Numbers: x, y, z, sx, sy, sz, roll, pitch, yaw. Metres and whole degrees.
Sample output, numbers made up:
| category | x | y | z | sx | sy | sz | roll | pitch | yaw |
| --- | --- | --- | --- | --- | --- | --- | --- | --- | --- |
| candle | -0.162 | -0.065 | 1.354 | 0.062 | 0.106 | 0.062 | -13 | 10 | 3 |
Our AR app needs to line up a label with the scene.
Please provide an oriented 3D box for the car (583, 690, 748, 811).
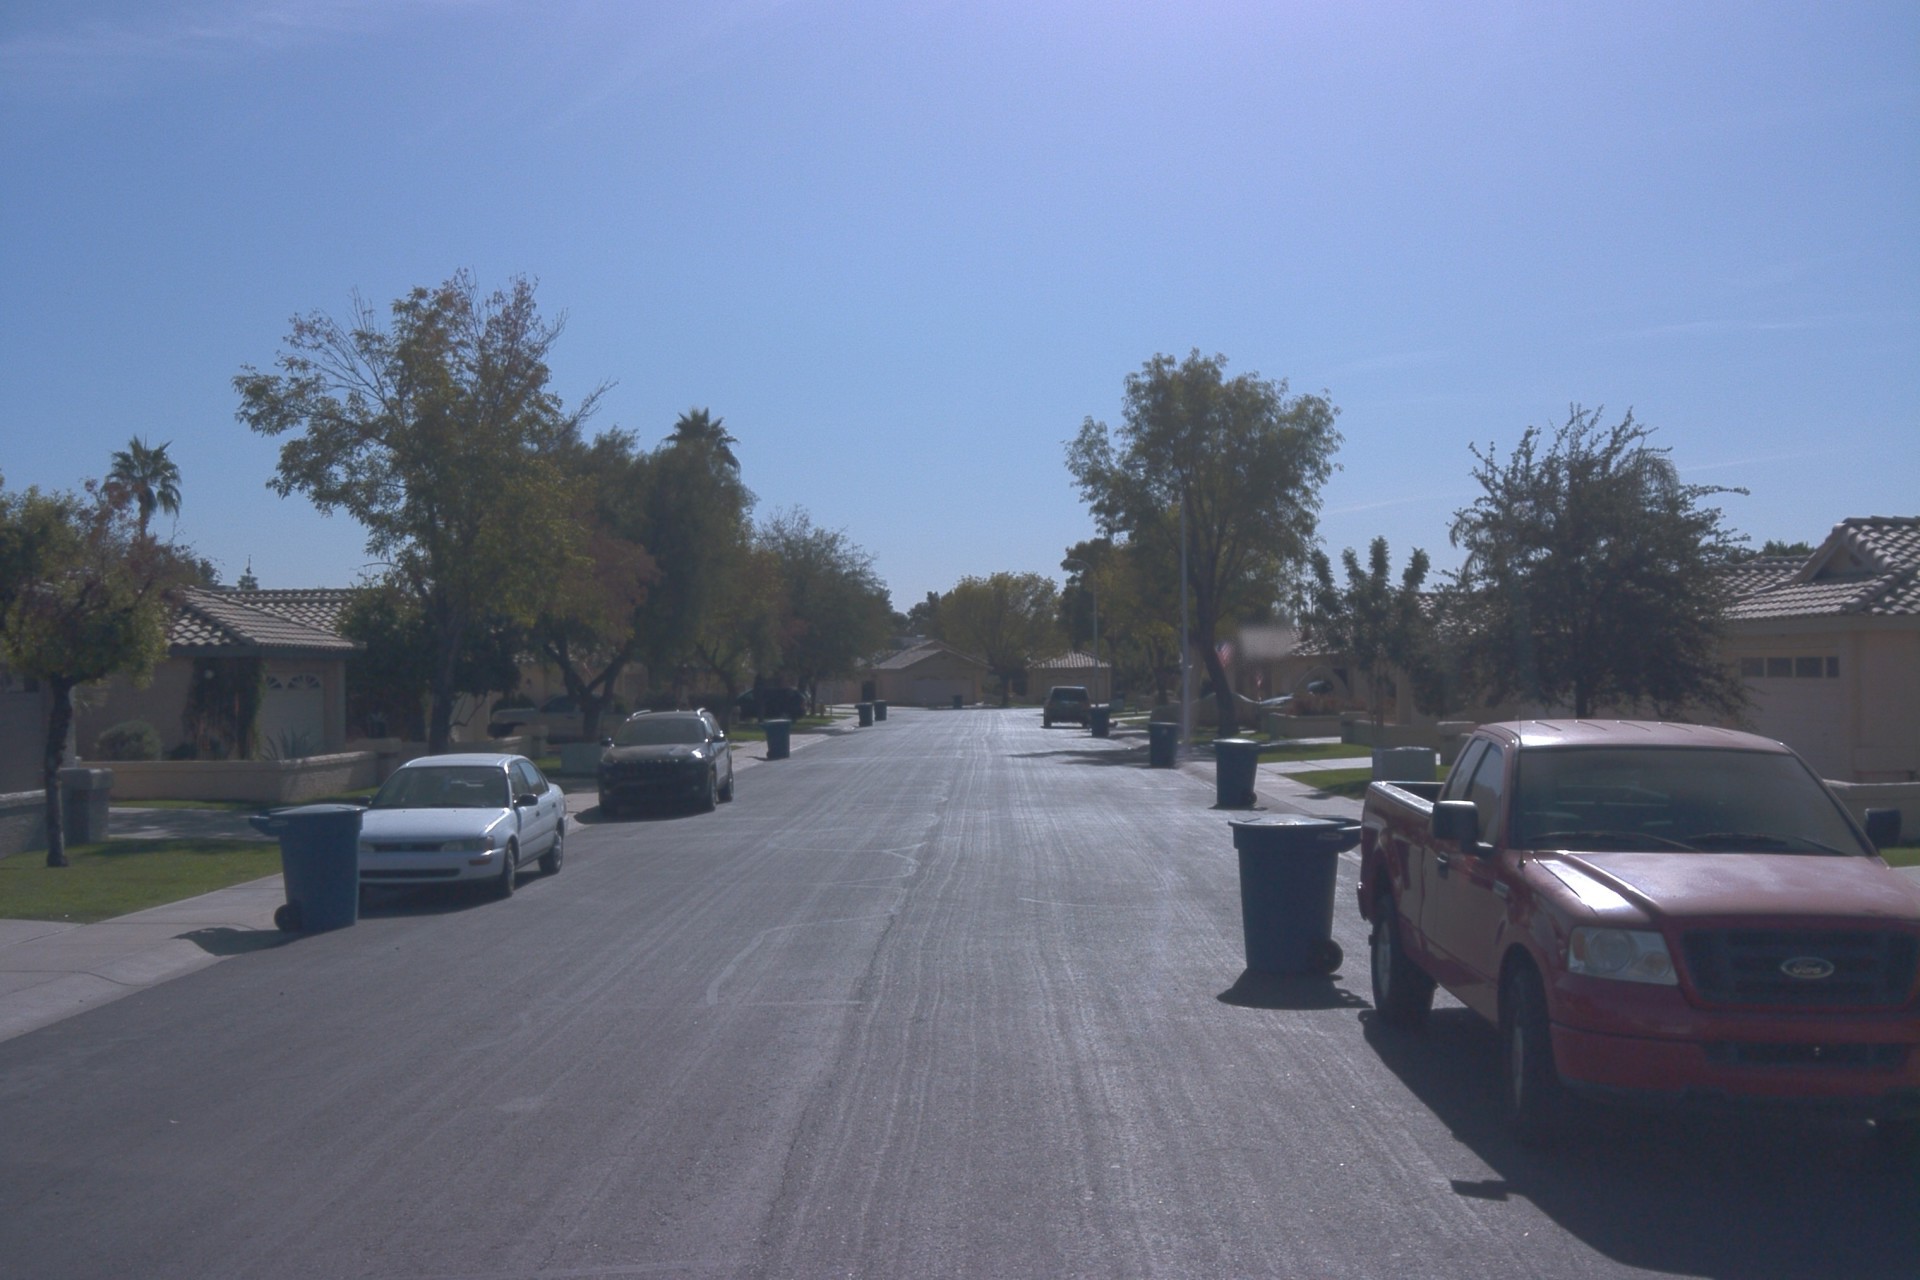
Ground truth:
| category | x | y | z | sx | sy | sz | roll | pitch | yaw |
| --- | --- | --- | --- | --- | --- | --- | --- | --- | --- |
| car | -4.865 | 1.792 | 34.690 | 2.082 | 1.820 | 4.660 | 0 | 0 | 0 |

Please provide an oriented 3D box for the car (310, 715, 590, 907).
| category | x | y | z | sx | sy | sz | roll | pitch | yaw |
| --- | --- | --- | --- | --- | --- | --- | --- | --- | --- |
| car | -5.241 | 1.707 | 21.797 | 1.886 | 1.690 | 4.365 | 0 | 0 | 0 |
